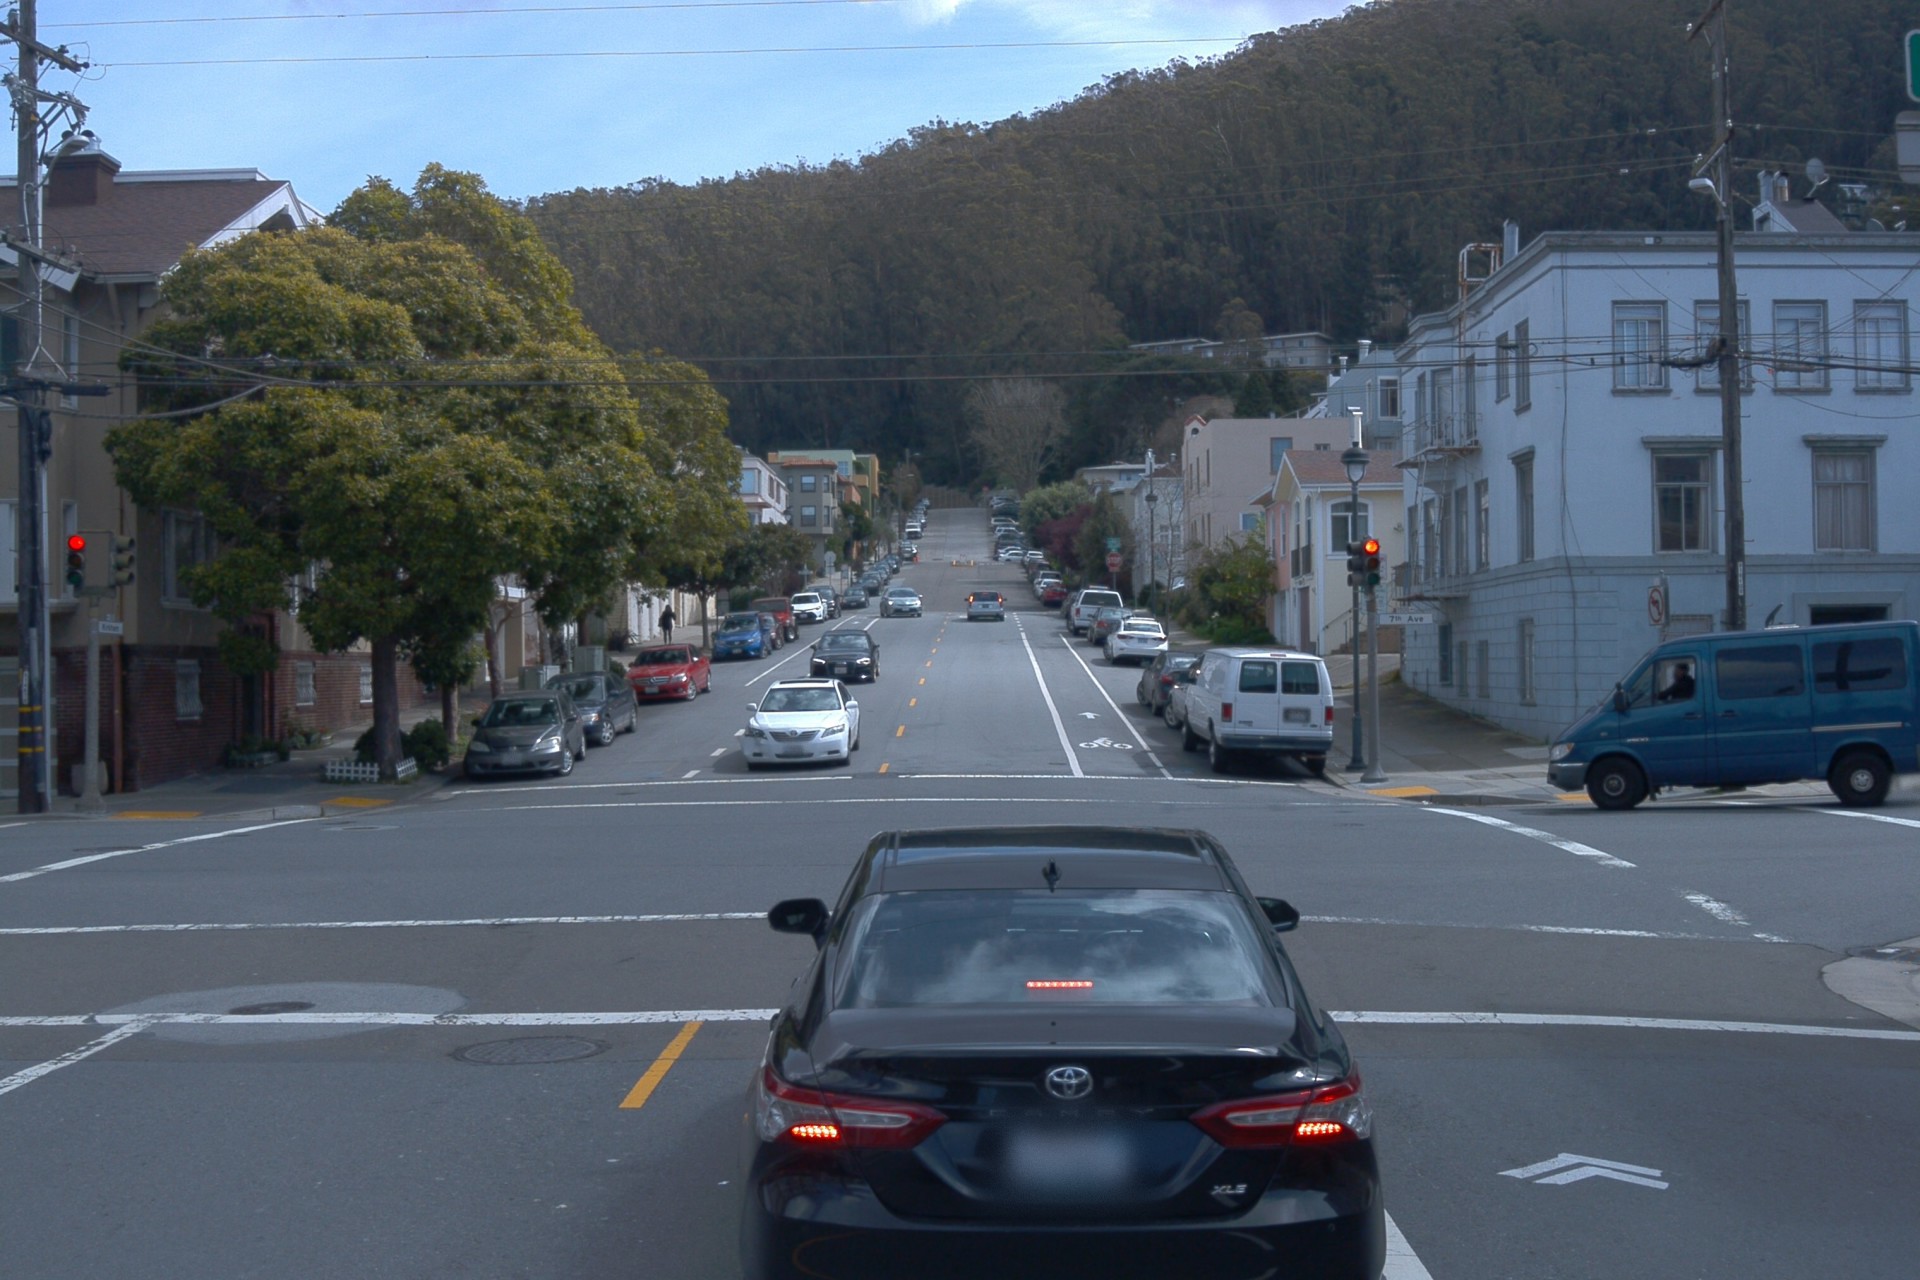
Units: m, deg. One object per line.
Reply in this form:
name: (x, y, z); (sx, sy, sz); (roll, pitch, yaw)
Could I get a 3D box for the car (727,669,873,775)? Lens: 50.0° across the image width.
car: (-2.840, 1.441, 37.687); (2.209, 1.750, 4.541); (0, 0, 1)

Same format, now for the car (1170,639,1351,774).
car: (5.314, 1.116, 37.224); (2.299, 2.250, 5.313); (0, 0, -2)

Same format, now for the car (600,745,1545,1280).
car: (0.282, 1.305, 7.305); (2.249, 1.620, 4.798); (0, 0, 0)

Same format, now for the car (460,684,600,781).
car: (-7.707, 1.620, 37.253); (1.836, 1.560, 4.133); (0, 0, -3)
